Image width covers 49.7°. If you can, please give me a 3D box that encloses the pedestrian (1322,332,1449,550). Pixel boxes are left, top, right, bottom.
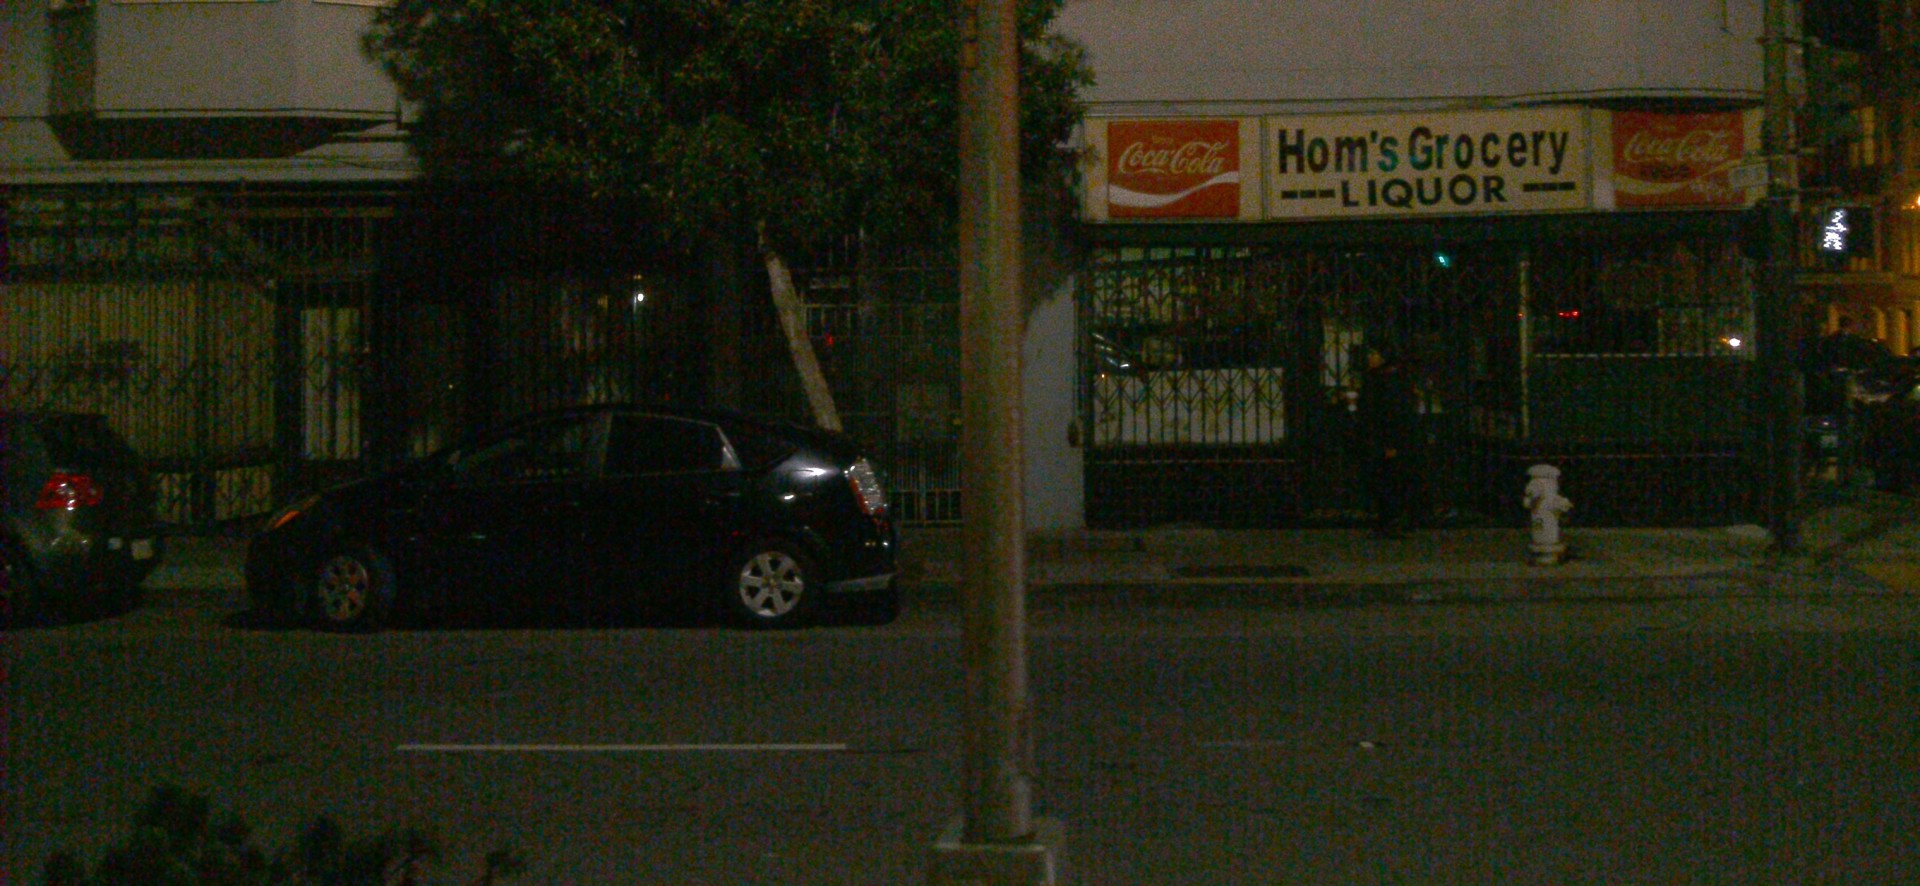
[{"bbox_3d":[3.481,-0.039,17.003,0.820,1.688,0.880,0,2,-3],"label":"pedestrian"}]

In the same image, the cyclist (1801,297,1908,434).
[{"bbox_3d":[13.133,-1.176,30.465,0.822,1.866,1.959,0,4,4],"label":"cyclist"}]

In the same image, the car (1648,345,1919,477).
[{"bbox_3d":[11.055,-0.511,28.198,1.990,1.353,4.636,0,6,2],"label":"car"}]

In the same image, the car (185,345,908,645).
[{"bbox_3d":[-2.650,0.290,14.158,4.570,1.776,1.947,0,4,-2],"label":"car"}]
